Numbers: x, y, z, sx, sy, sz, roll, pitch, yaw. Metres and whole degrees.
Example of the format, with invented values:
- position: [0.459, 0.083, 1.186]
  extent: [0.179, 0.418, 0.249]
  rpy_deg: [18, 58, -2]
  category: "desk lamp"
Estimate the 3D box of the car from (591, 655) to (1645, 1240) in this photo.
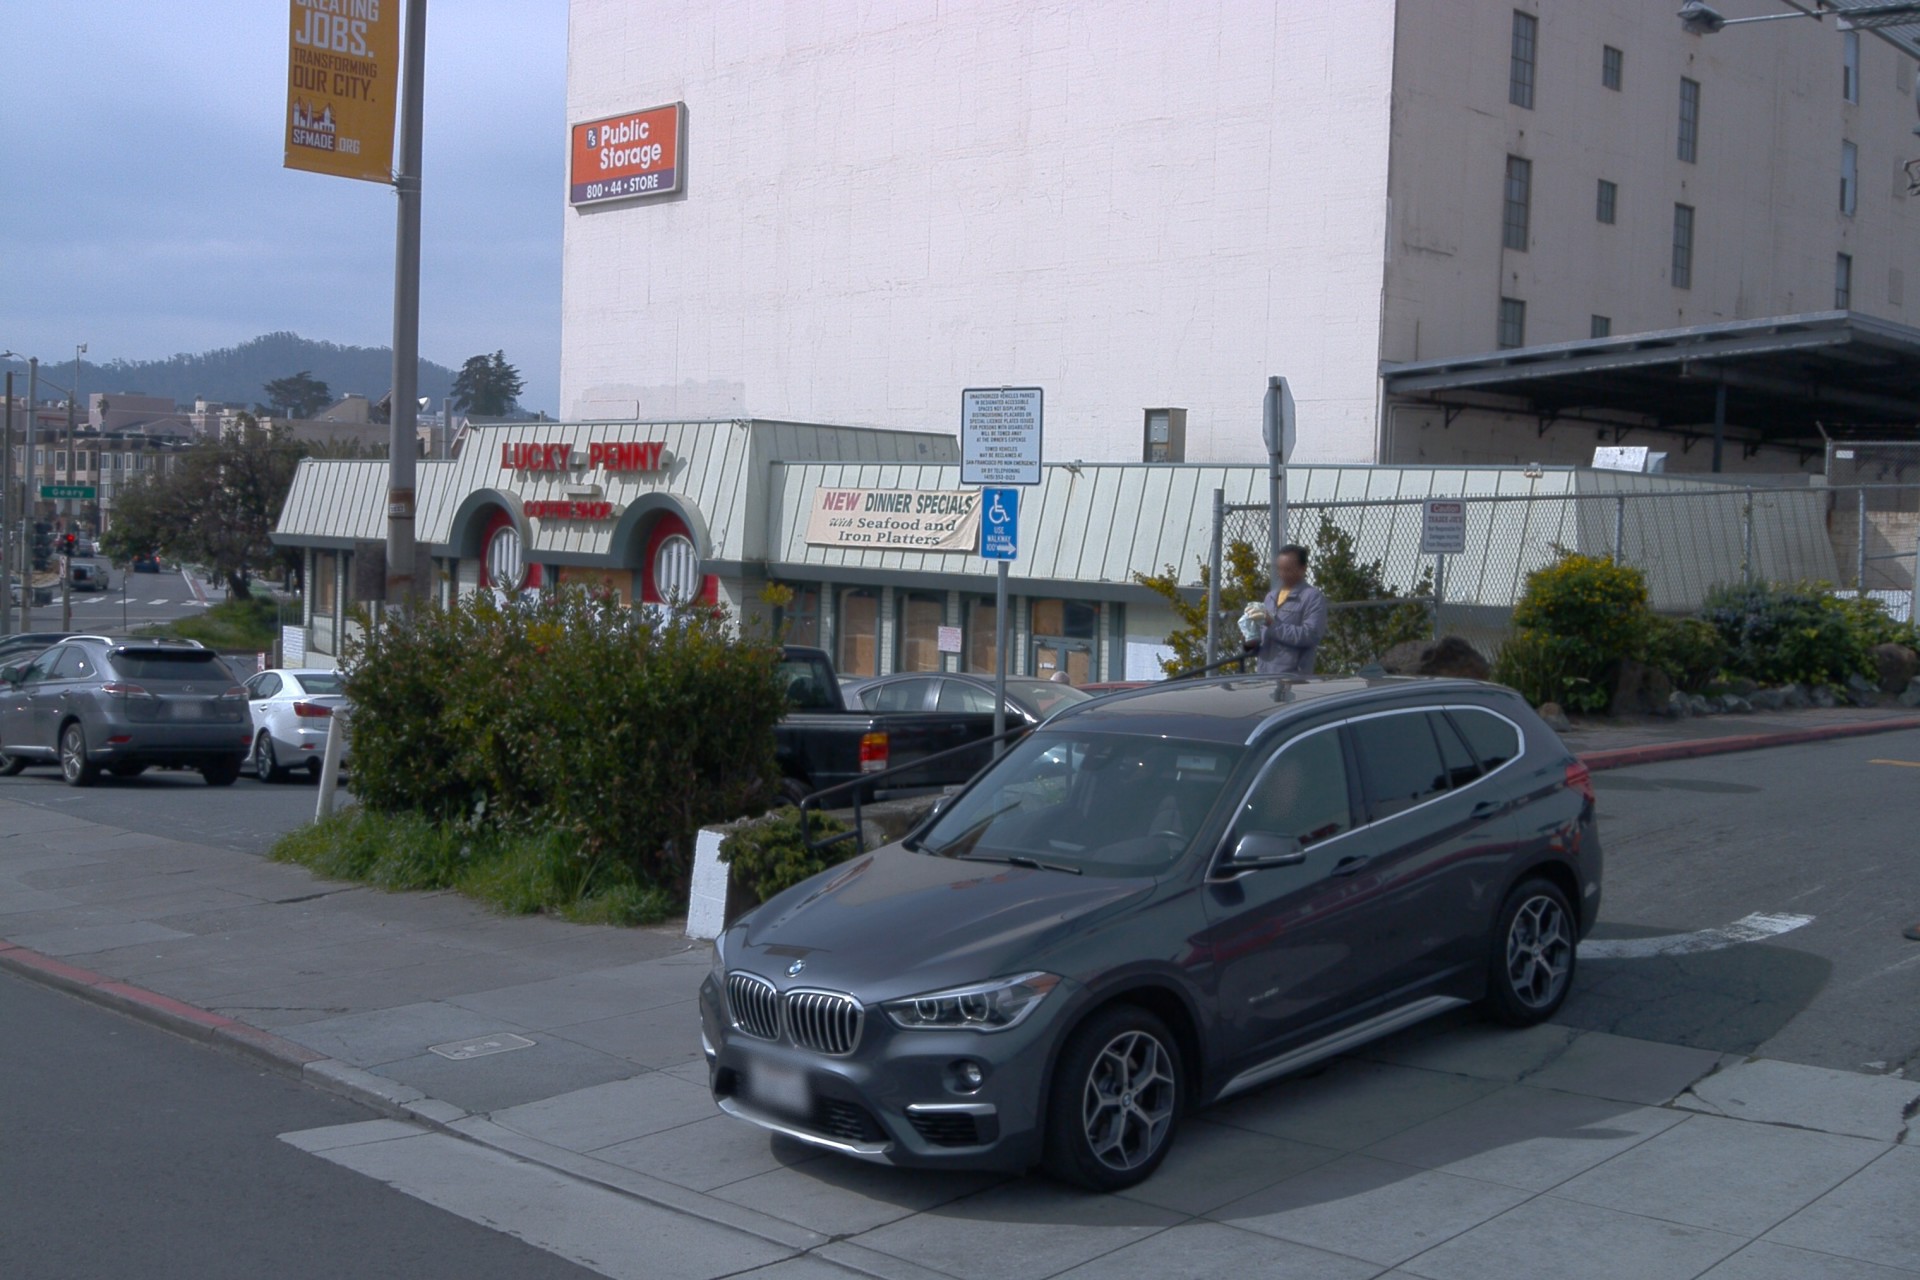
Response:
- position: [0.883, 1.020, 8.963]
  extent: [4.468, 1.870, 2.123]
  rpy_deg: [0, 0, -43]
  category: "car"

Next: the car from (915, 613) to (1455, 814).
- position: [2.105, 0.619, 20.528]
  extent: [2.154, 1.760, 5.214]
  rpy_deg: [0, 0, -43]
  category: "car"

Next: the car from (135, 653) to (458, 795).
- position: [-8.564, 0.986, 26.152]
  extent: [2.088, 1.580, 4.738]
  rpy_deg: [0, 0, -43]
  category: "car"

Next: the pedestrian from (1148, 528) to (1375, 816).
- position: [1.927, 0.190, 13.073]
  extent: [1.076, 1.744, 0.943]
  rpy_deg: [0, 1, -41]
  category: "pedestrian"

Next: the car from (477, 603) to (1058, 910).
- position: [-1.683, 0.779, 16.431]
  extent: [4.798, 2.110, 1.999]
  rpy_deg: [1, 0, 44]
  category: "car"

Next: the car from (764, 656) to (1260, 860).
- position: [0.366, 0.946, 18.384]
  extent: [2.028, 1.540, 4.265]
  rpy_deg: [0, 0, -43]
  category: "car"
